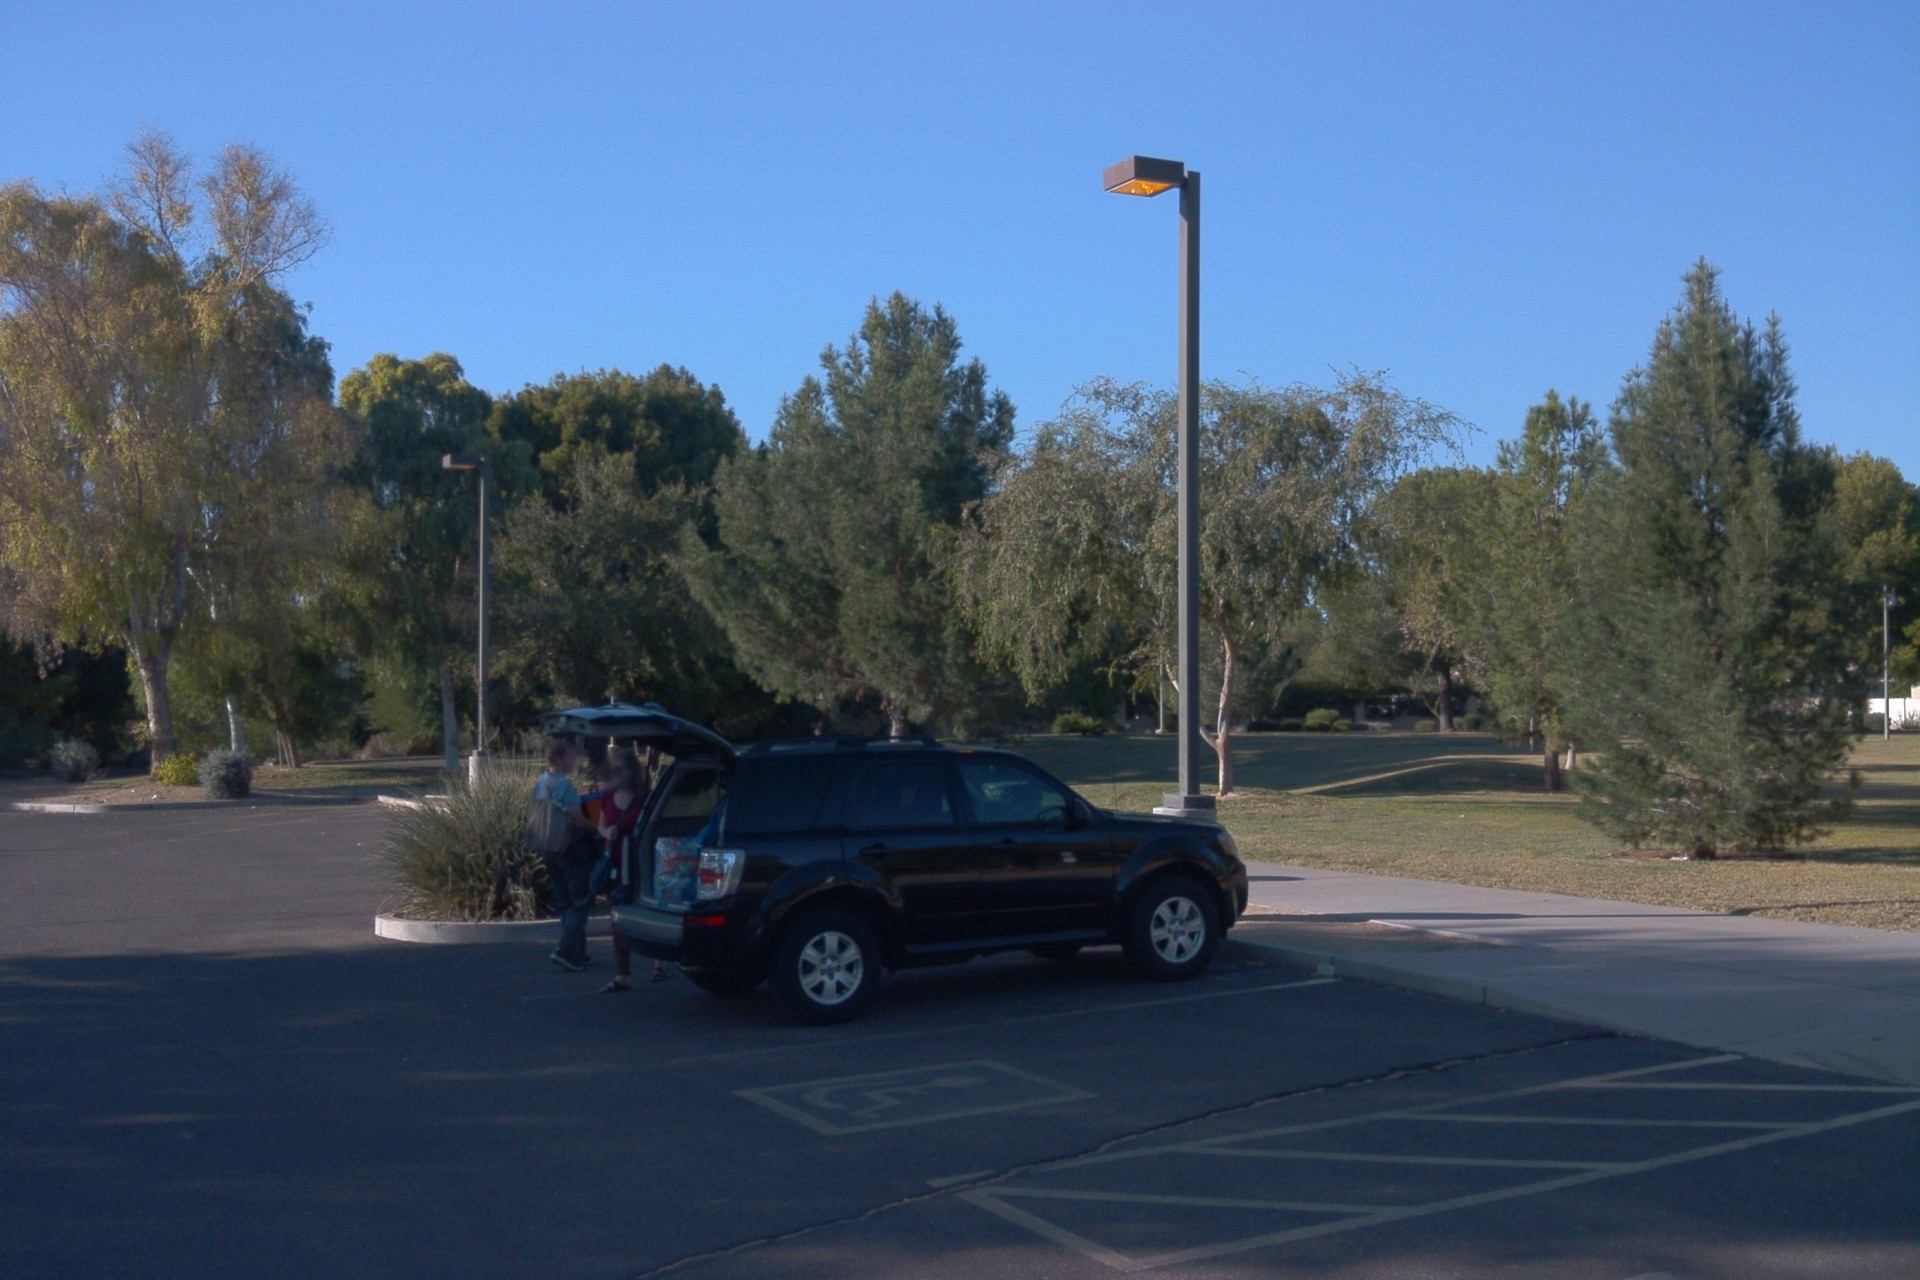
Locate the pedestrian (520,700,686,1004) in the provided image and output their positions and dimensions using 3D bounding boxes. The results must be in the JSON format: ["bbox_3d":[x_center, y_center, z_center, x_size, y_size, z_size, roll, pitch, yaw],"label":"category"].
[{"bbox_3d":[-2.486,1.447,14.563,0.891,2.040,0.885,0,-1,10],"label":"pedestrian"}]

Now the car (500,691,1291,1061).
[{"bbox_3d":[-0.391,1.396,13.920,4.873,2.100,2.066,1,-1,-27],"label":"car"}]

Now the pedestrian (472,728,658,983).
[{"bbox_3d":[-2.929,1.565,15.502,1.001,1.790,0.999,0,-1,18],"label":"pedestrian"}]
